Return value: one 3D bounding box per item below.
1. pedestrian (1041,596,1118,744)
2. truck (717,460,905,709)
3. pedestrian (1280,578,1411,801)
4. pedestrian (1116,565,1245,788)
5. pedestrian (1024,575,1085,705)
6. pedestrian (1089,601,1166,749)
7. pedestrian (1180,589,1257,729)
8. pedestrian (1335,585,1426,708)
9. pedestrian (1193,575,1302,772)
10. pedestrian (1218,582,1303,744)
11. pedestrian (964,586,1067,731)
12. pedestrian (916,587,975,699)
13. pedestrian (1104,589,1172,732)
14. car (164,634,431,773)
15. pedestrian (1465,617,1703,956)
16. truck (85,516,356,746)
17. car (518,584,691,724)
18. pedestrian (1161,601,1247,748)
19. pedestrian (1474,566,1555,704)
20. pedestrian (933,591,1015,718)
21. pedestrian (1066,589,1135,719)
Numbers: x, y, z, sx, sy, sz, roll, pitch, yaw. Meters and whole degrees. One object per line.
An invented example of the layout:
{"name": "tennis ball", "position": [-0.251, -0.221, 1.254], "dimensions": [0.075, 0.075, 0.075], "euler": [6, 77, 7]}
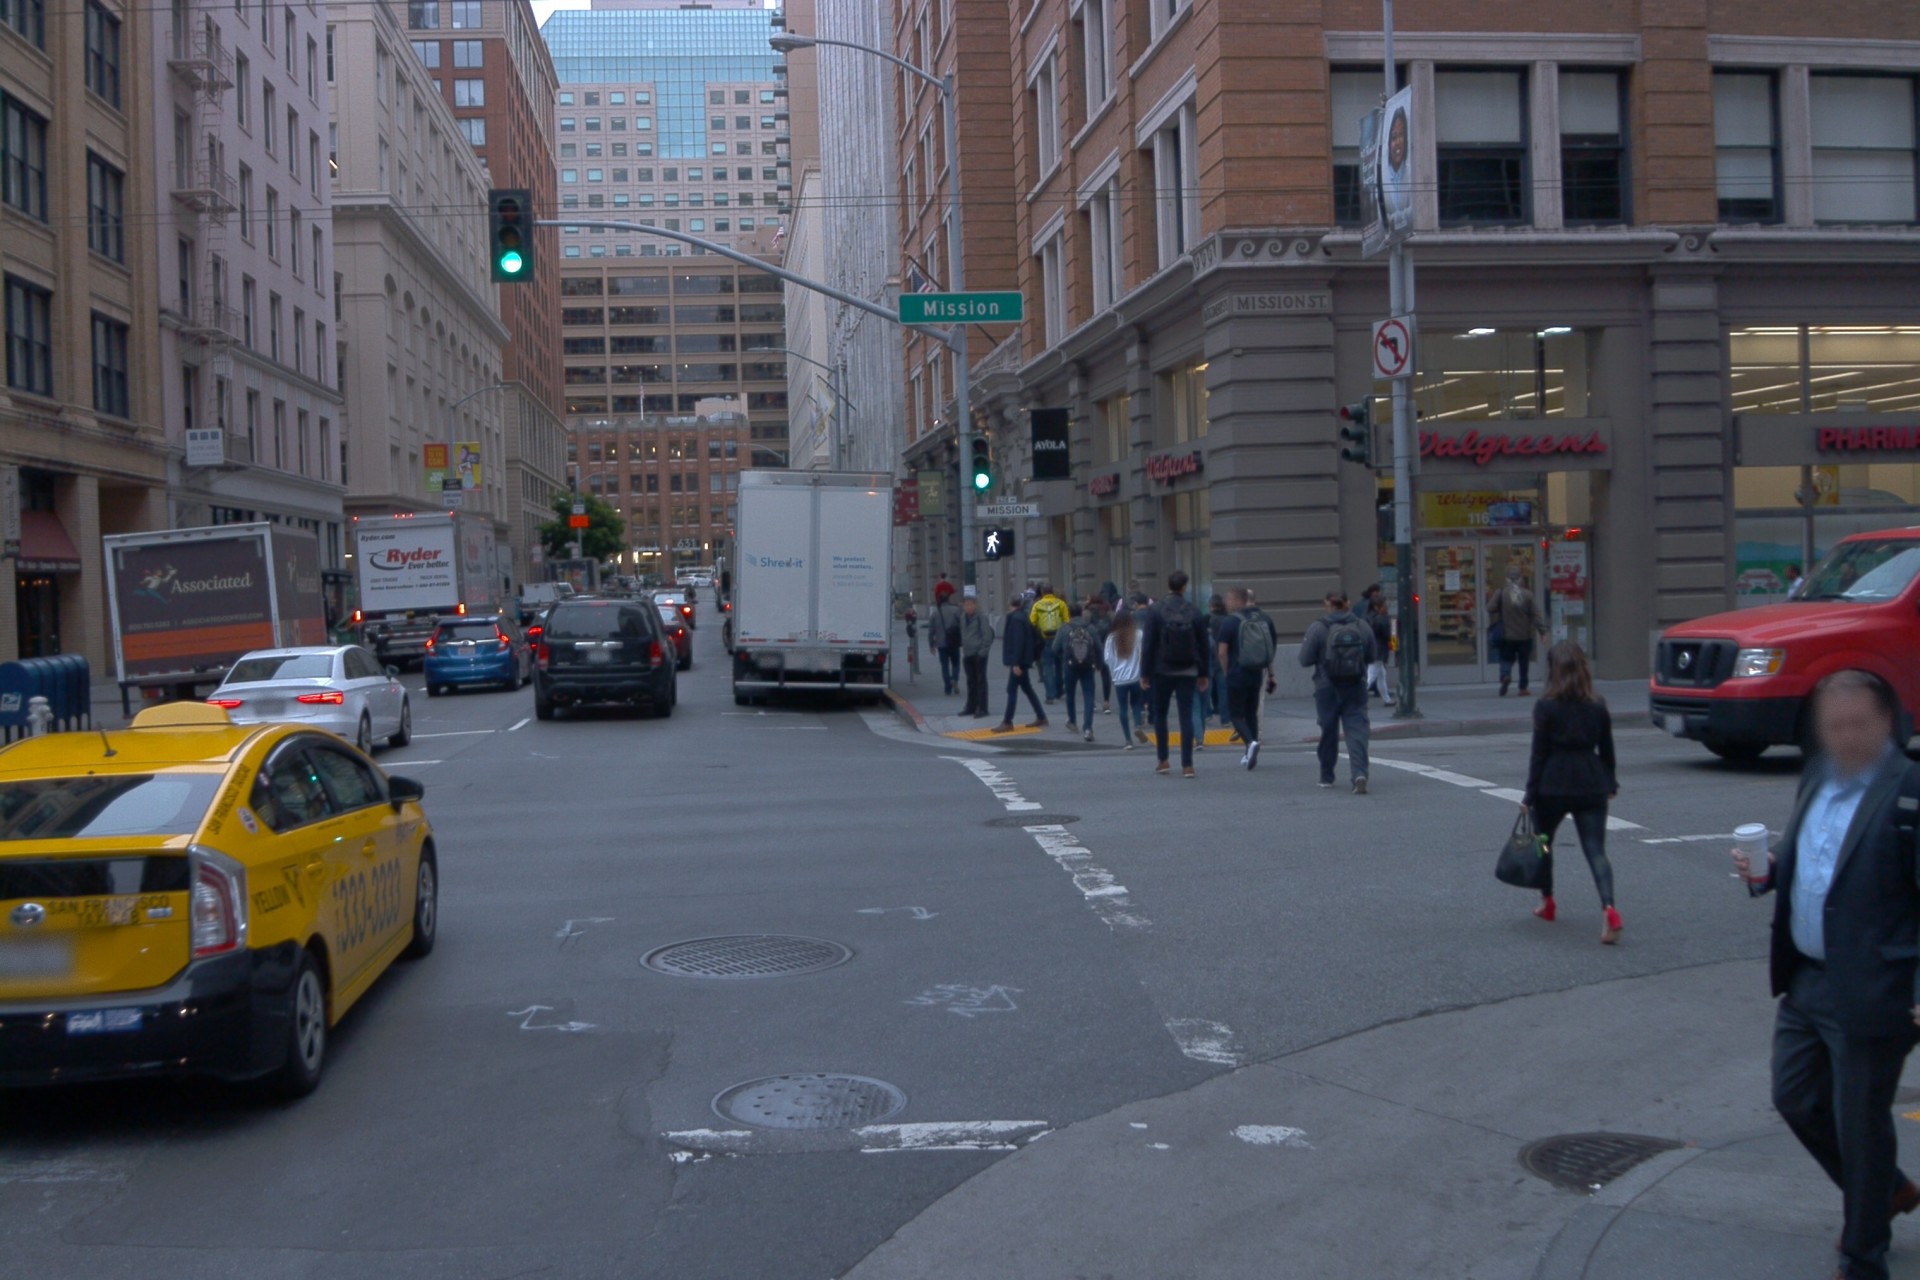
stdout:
{"name": "pedestrian", "position": [1.490, 0.358, 25.468], "dimensions": [0.913, 1.790, 1.171], "euler": [0, 1, 6]}
{"name": "truck", "position": [-2.734, -0.920, 35.393], "dimensions": [2.836, 3.790, 7.822], "euler": [0, 1, -7]}
{"name": "pedestrian", "position": [3.208, 0.392, 17.220], "dimensions": [0.785, 1.800, 1.149], "euler": [0, 1, -5]}
{"name": "pedestrian", "position": [2.010, 0.312, 18.887], "dimensions": [0.918, 1.980, 1.155], "euler": [0, 1, -8]}
{"name": "pedestrian", "position": [1.391, -0.008, 30.479], "dimensions": [0.812, 1.880, 1.040], "euler": [0, 1, -2]}
{"name": "pedestrian", "position": [1.988, 0.400, 24.475], "dimensions": [0.721, 1.730, 0.991], "euler": [0, 1, -7]}
{"name": "pedestrian", "position": [3.258, 0.228, 25.988], "dimensions": [0.701, 1.740, 0.968], "euler": [0, 1, -10]}
{"name": "pedestrian", "position": [5.507, 0.068, 26.930], "dimensions": [0.929, 1.580, 0.698], "euler": [-1, 1, -25]}
{"name": "pedestrian", "position": [2.738, 0.305, 19.646], "dimensions": [0.816, 1.830, 0.943], "euler": [0, 1, -6]}
{"name": "pedestrian", "position": [3.595, 0.261, 24.637], "dimensions": [0.859, 1.900, 0.873], "euler": [0, 1, -2]}
{"name": "pedestrian", "position": [0.742, 0.233, 27.340], "dimensions": [1.133, 1.890, 0.854], "euler": [0, 1, 21]}
{"name": "pedestrian", "position": [-0.237, 0.042, 32.845], "dimensions": [0.778, 1.760, 1.028], "euler": [0, 1, -10]}
{"name": "pedestrian", "position": [2.268, 0.248, 26.316], "dimensions": [0.763, 1.790, 0.987], "euler": [0, 1, -1]}
{"name": "car", "position": [-7.899, 0.693, 25.000], "dimensions": [2.128, 1.460, 4.553], "euler": [0, 1, -5]}
{"name": "pedestrian", "position": [3.322, 0.735, 11.030], "dimensions": [0.785, 1.710, 1.088], "euler": [0, 1, -12]}
{"name": "truck", "position": [-11.874, -0.187, 33.641], "dimensions": [3.011, 3.380, 6.430], "euler": [0, 1, -9]}
{"name": "car", "position": [-5.385, 0.160, 31.731], "dimensions": [2.237, 1.970, 4.827], "euler": [0, 1, -5]}
{"name": "pedestrian", "position": [2.845, 0.387, 24.033], "dimensions": [0.858, 1.690, 0.874], "euler": [0, 1, -3]}
{"name": "pedestrian", "position": [7.486, -0.071, 27.783], "dimensions": [0.861, 1.830, 0.884], "euler": [0, 1, 2]}
{"name": "pedestrian", "position": [0.198, 0.192, 28.899], "dimensions": [0.947, 1.760, 0.760], "euler": [-1, 1, -19]}
{"name": "pedestrian", "position": [1.917, 0.179, 28.217], "dimensions": [0.708, 1.740, 1.112], "euler": [0, 1, -8]}
